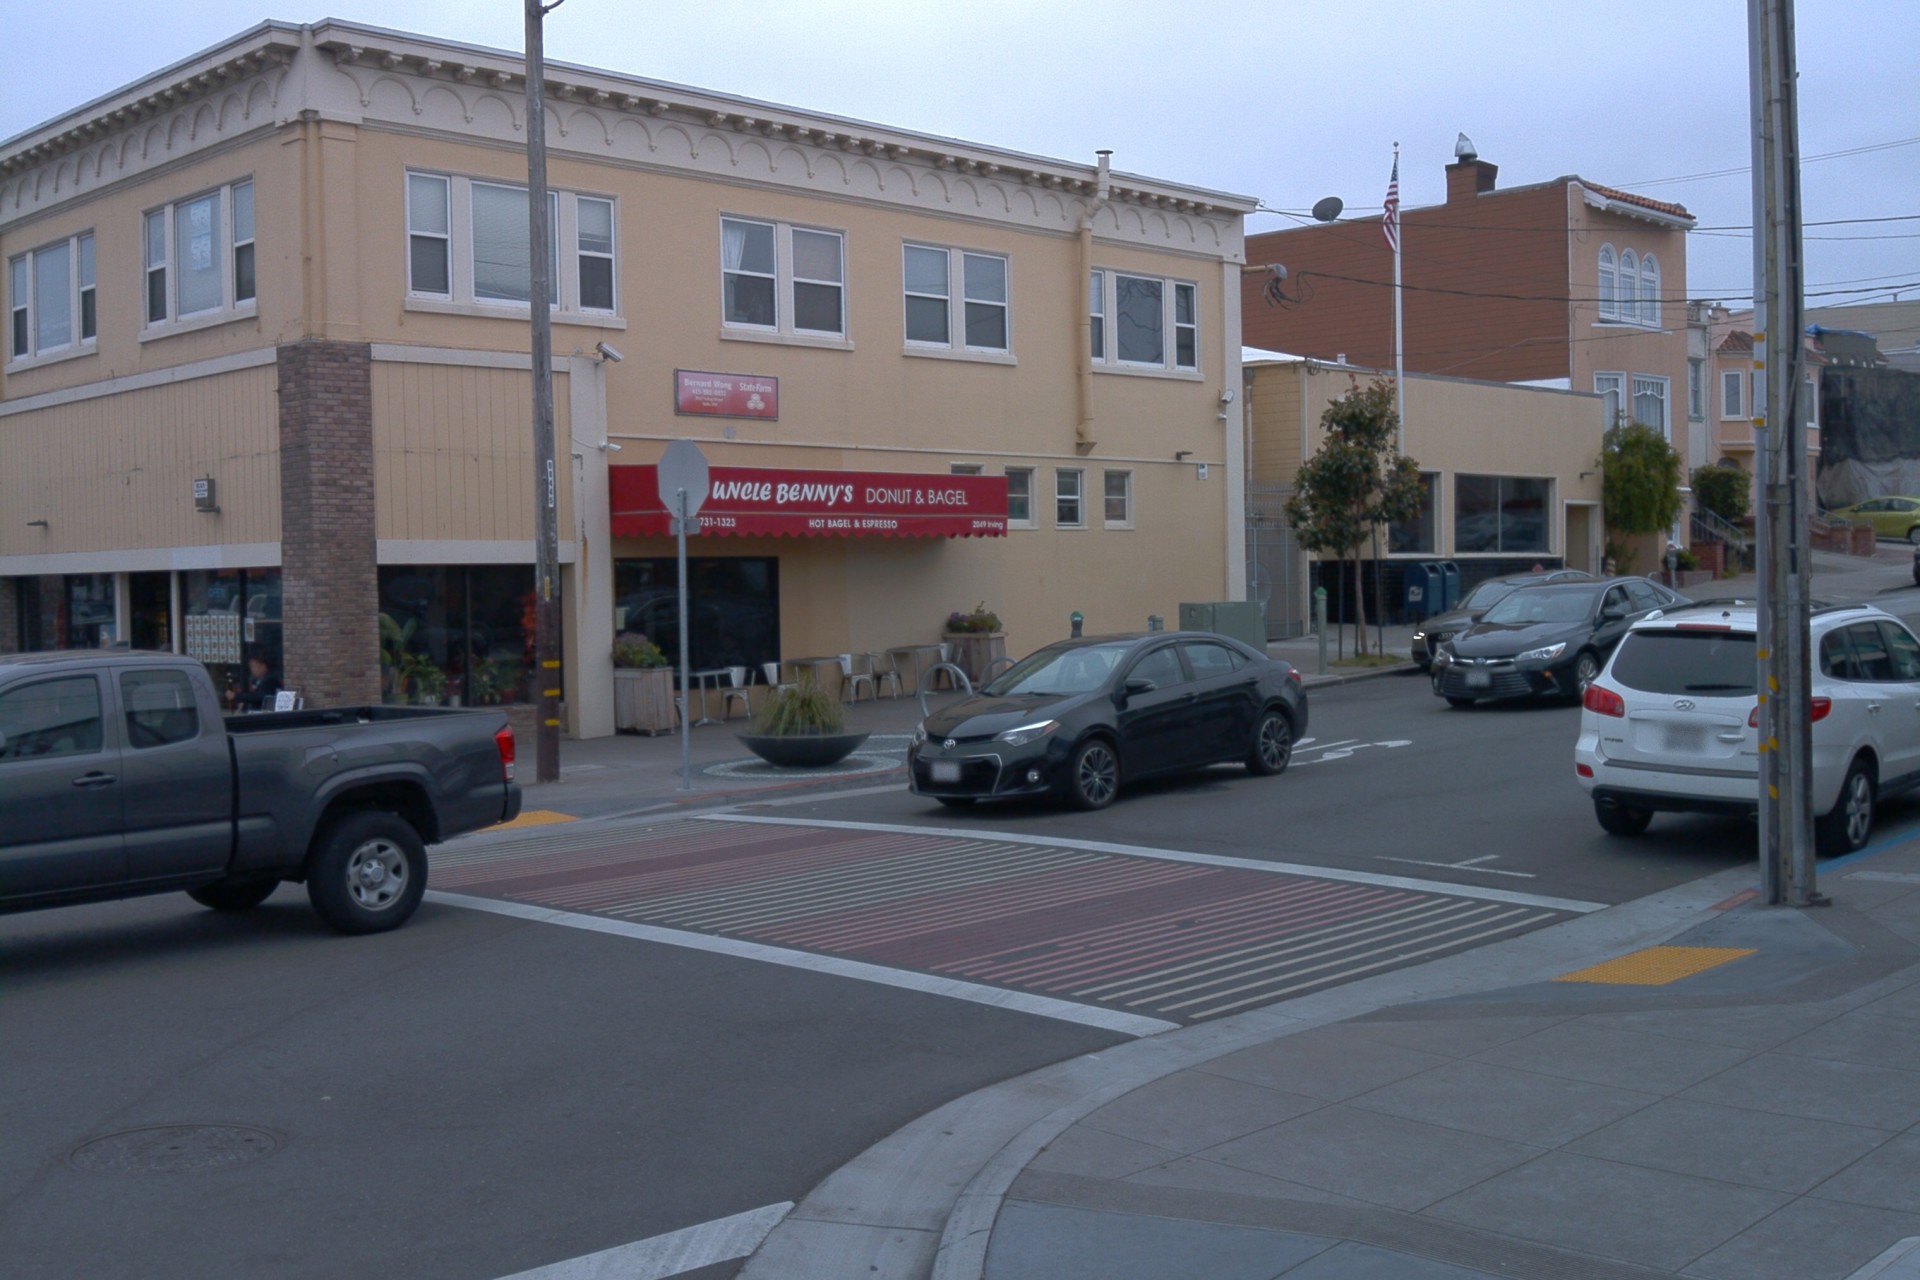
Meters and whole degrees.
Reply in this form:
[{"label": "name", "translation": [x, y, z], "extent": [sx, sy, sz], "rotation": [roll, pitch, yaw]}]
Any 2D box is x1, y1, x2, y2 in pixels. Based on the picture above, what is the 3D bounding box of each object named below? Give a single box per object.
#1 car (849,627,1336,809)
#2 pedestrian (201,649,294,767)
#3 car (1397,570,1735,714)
[{"label": "car", "translation": [1.329, 0.612, 18.896], "extent": [2.067, 1.440, 4.540], "rotation": [0, 1, 42]}, {"label": "pedestrian", "translation": [-8.566, 0.802, 24.838], "extent": [0.878, 1.374, 0.735], "rotation": [1, 1, 44]}, {"label": "car", "translation": [7.728, 0.003, 26.057], "extent": [2.082, 1.644, 4.864], "rotation": [1, 1, 44]}]
